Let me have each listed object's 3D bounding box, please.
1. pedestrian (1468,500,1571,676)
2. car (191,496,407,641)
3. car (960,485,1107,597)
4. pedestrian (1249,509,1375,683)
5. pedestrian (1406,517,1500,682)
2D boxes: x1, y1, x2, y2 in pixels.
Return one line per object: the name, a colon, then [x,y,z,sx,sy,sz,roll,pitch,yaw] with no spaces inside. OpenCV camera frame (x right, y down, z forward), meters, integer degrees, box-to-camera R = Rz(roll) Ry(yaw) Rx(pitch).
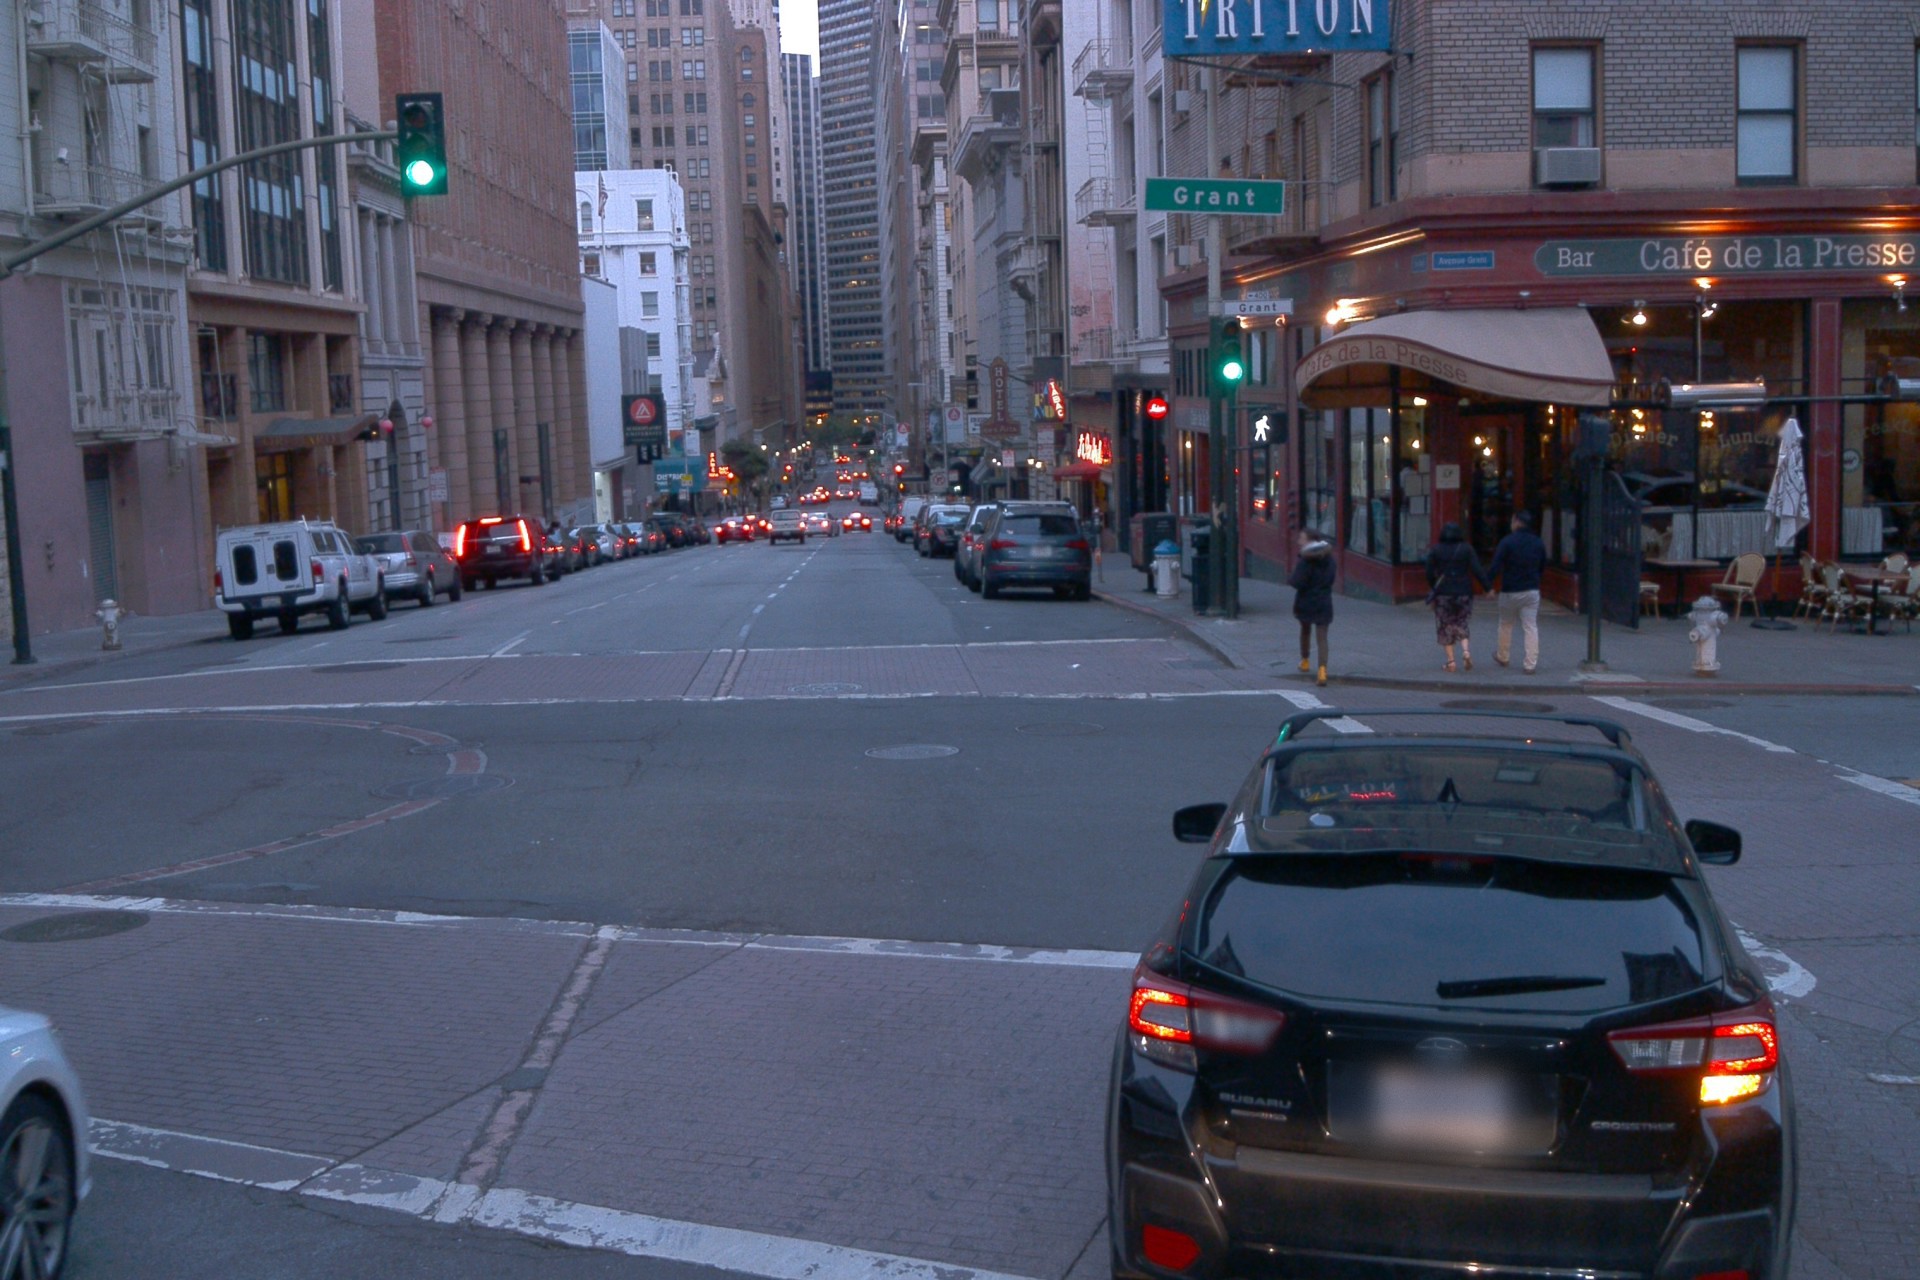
pedestrian: [5.744,-0.530,21.149,0.840,1.766,0.954,0,1,3]
car: [-11.230,-1.169,35.377,2.286,2.294,5.437,0,1,-4]
car: [1.240,-1.722,37.050,2.214,1.850,4.837,0,1,-3]
pedestrian: [3.652,-0.454,21.398,0.903,1.756,1.066,0,1,-17]
pedestrian: [5.060,-0.412,21.126,0.767,1.656,0.957,0,1,3]
